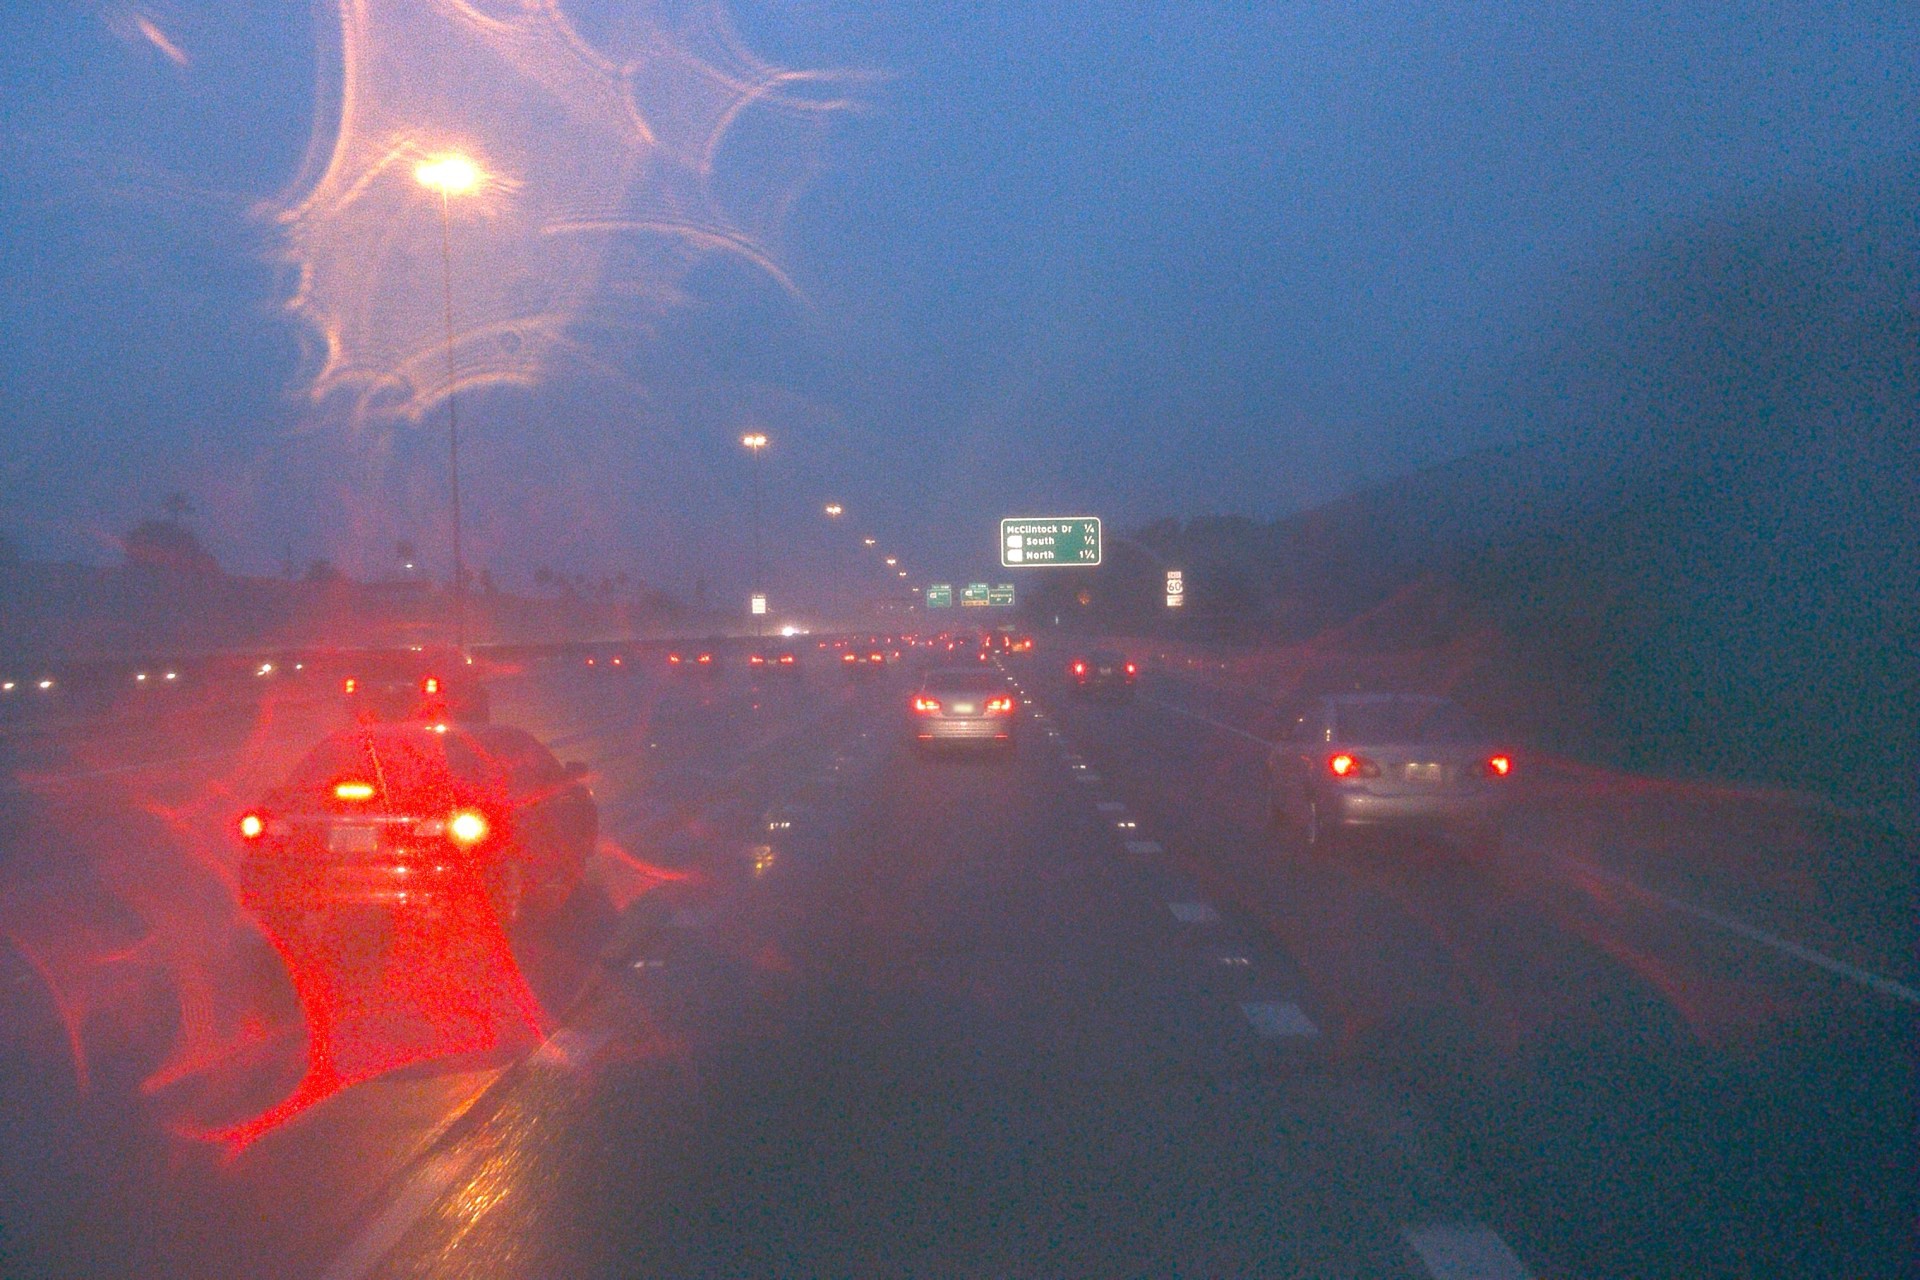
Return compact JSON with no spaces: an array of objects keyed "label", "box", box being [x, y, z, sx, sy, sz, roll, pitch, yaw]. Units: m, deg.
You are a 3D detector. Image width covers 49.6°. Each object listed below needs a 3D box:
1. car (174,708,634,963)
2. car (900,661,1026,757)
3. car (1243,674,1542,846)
[{"label":"car","box":[-3.882,1.311,15.440,2.168,1.490,4.575,0,0,0]},{"label":"car","box":[0.082,1.093,34.417,1.967,1.470,4.133,0,0,1]},{"label":"car","box":[4.032,1.071,20.134,2.013,1.440,4.411,0,0,1]}]
